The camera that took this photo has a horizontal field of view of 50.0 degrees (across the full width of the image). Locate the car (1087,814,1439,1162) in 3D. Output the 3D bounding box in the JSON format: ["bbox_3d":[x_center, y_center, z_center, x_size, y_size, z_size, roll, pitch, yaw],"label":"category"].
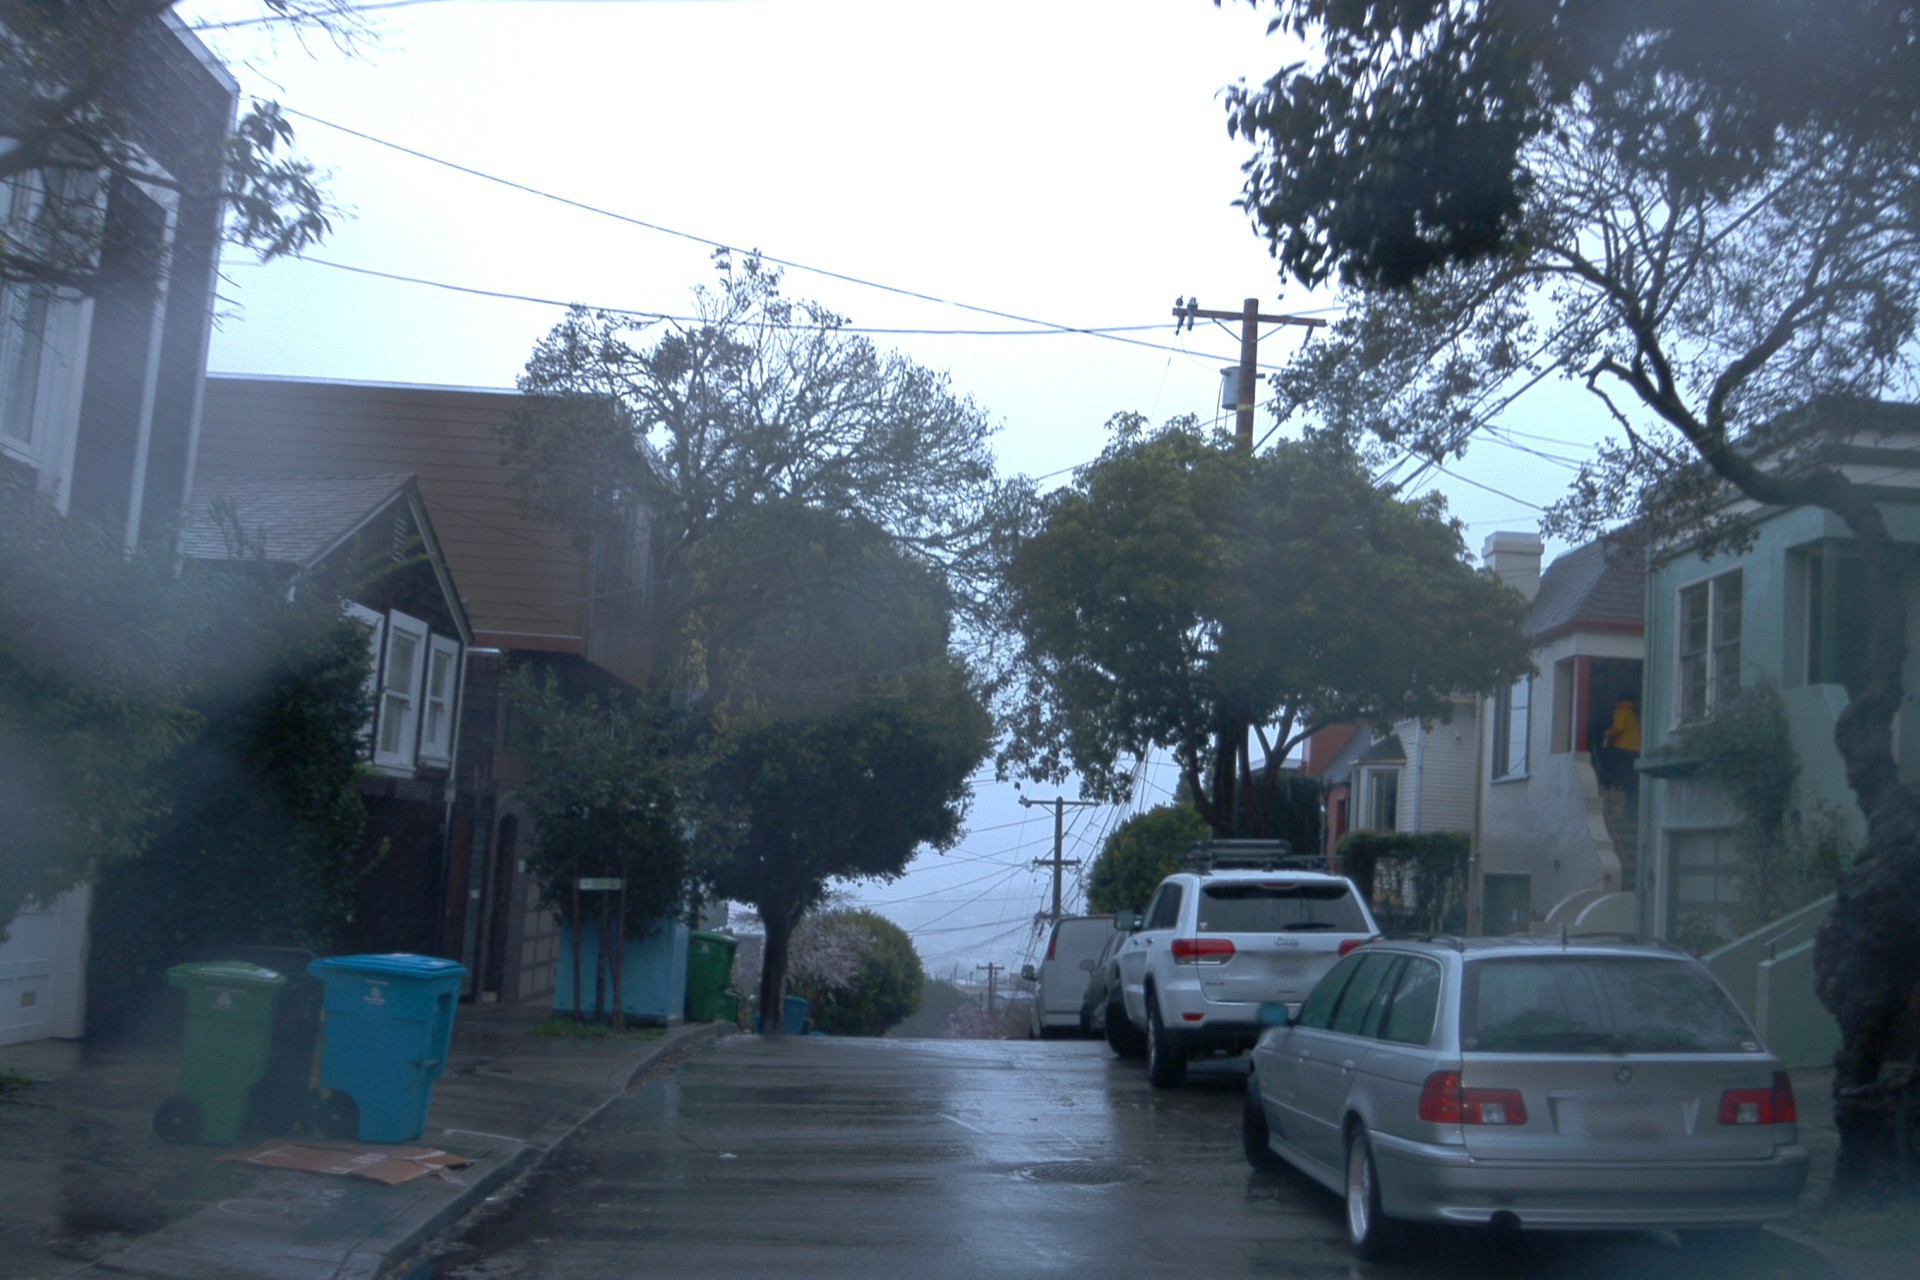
[{"bbox_3d":[2.435,2.835,17.989,2.211,2.140,4.911,1,0,-1],"label":"car"}]

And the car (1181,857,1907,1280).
[{"bbox_3d":[2.576,2.256,10.639,2.133,1.660,5.057,1,0,-2],"label":"car"}]
